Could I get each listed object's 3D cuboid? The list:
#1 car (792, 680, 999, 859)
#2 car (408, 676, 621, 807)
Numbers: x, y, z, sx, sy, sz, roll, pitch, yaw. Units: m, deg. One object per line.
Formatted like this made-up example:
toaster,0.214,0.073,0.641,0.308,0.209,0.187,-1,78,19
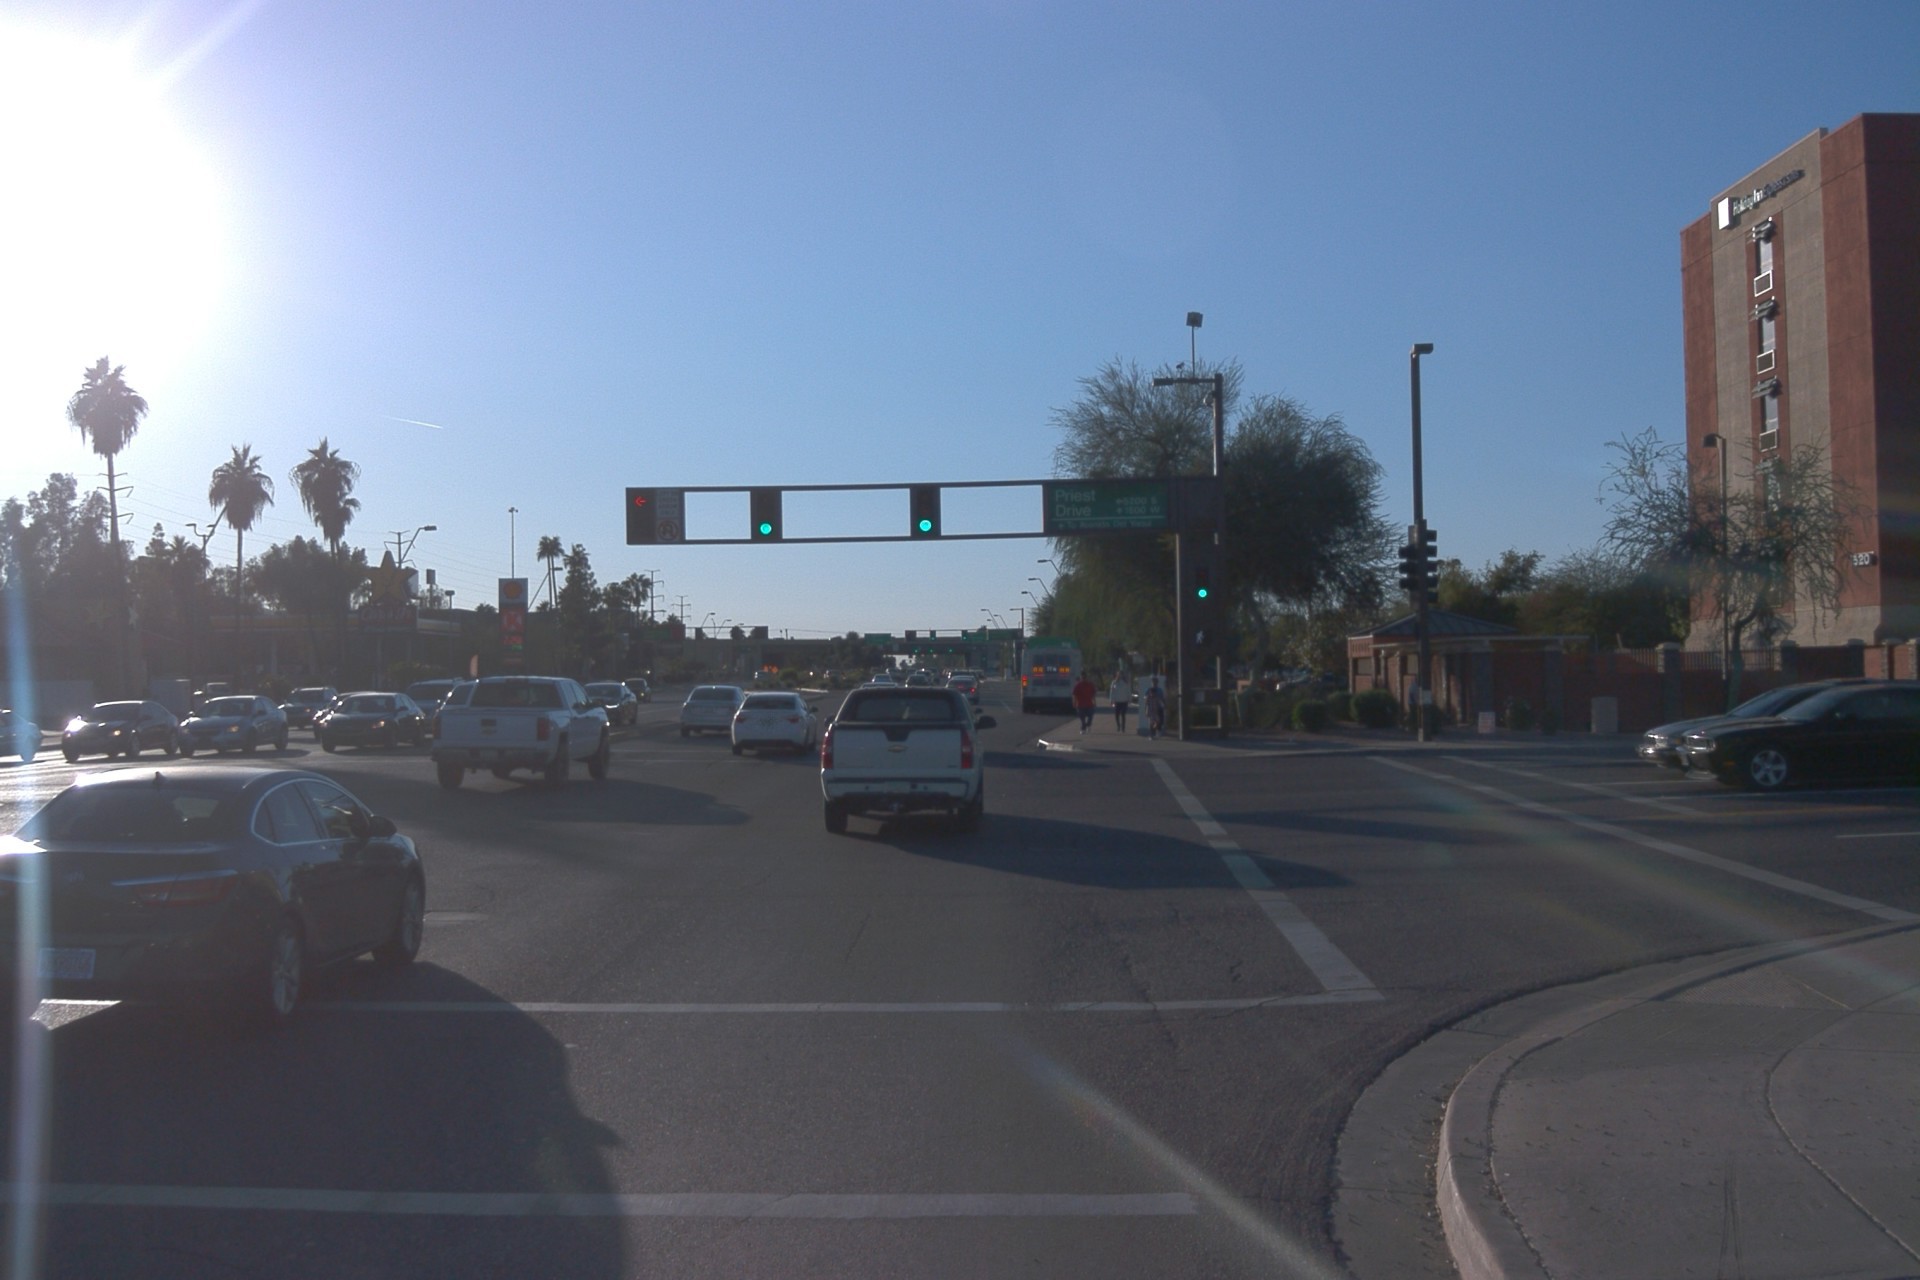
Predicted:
car,-0.735,1.628,28.002,2.477,2.120,5.357,1,-1,1
car,-7.695,1.697,36.689,2.394,2.100,5.772,1,-1,1
